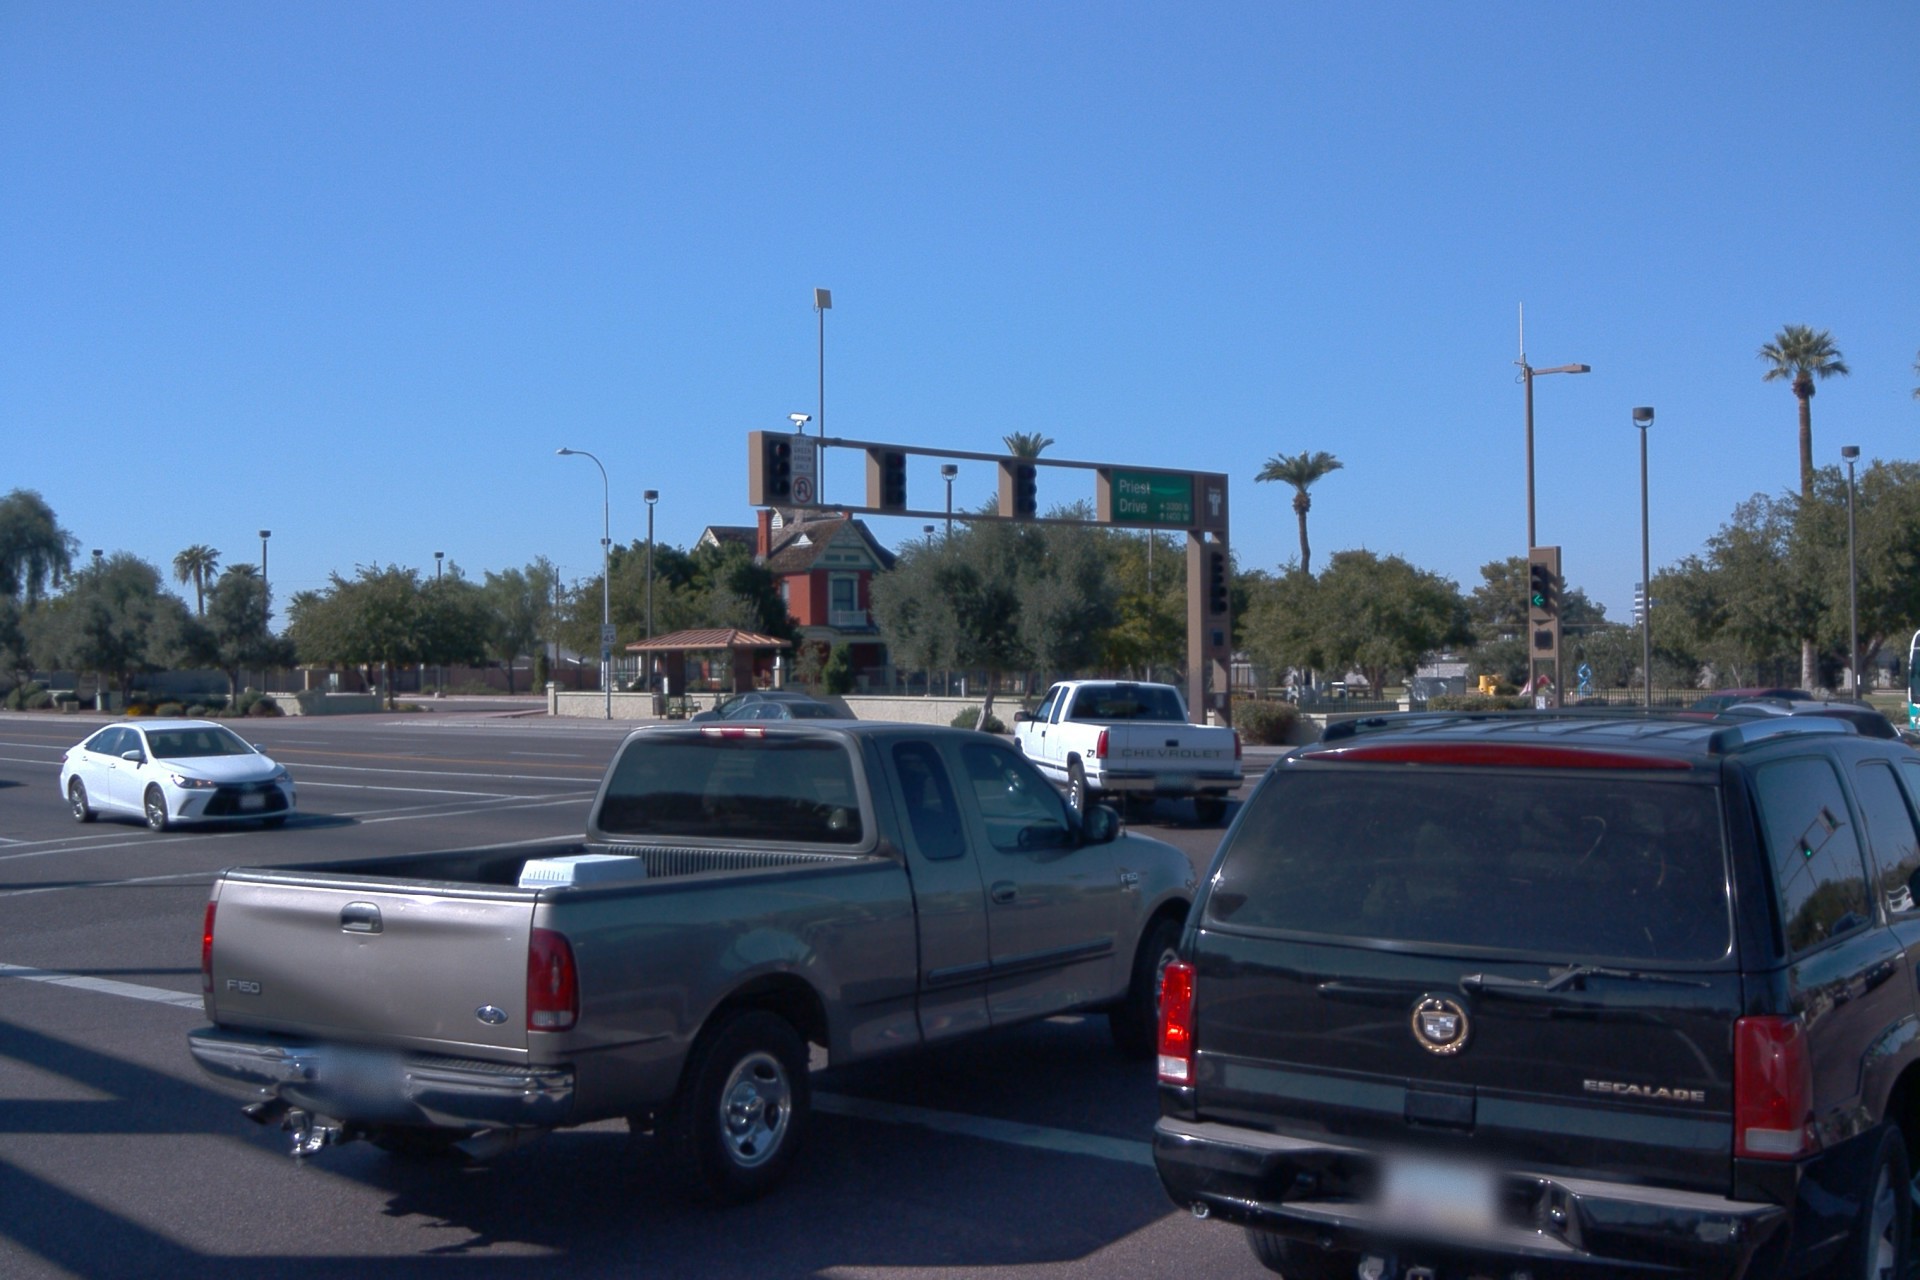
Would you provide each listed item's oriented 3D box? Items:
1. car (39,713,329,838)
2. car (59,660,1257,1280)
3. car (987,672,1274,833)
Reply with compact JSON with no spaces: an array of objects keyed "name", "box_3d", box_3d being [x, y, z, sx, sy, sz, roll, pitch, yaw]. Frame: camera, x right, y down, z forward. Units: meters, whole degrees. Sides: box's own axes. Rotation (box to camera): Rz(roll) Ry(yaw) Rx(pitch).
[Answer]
[{"name":"car","box_3d":[-11.184,1.868,29.782,2.126,1.500,4.748,0,0,-45]},{"name":"car","box_3d":[-0.850,1.156,9.620,2.263,2.080,5.842,0,0,31]},{"name":"car","box_3d":[2.181,1.444,28.923,2.501,1.900,6.174,0,0,-10]}]
